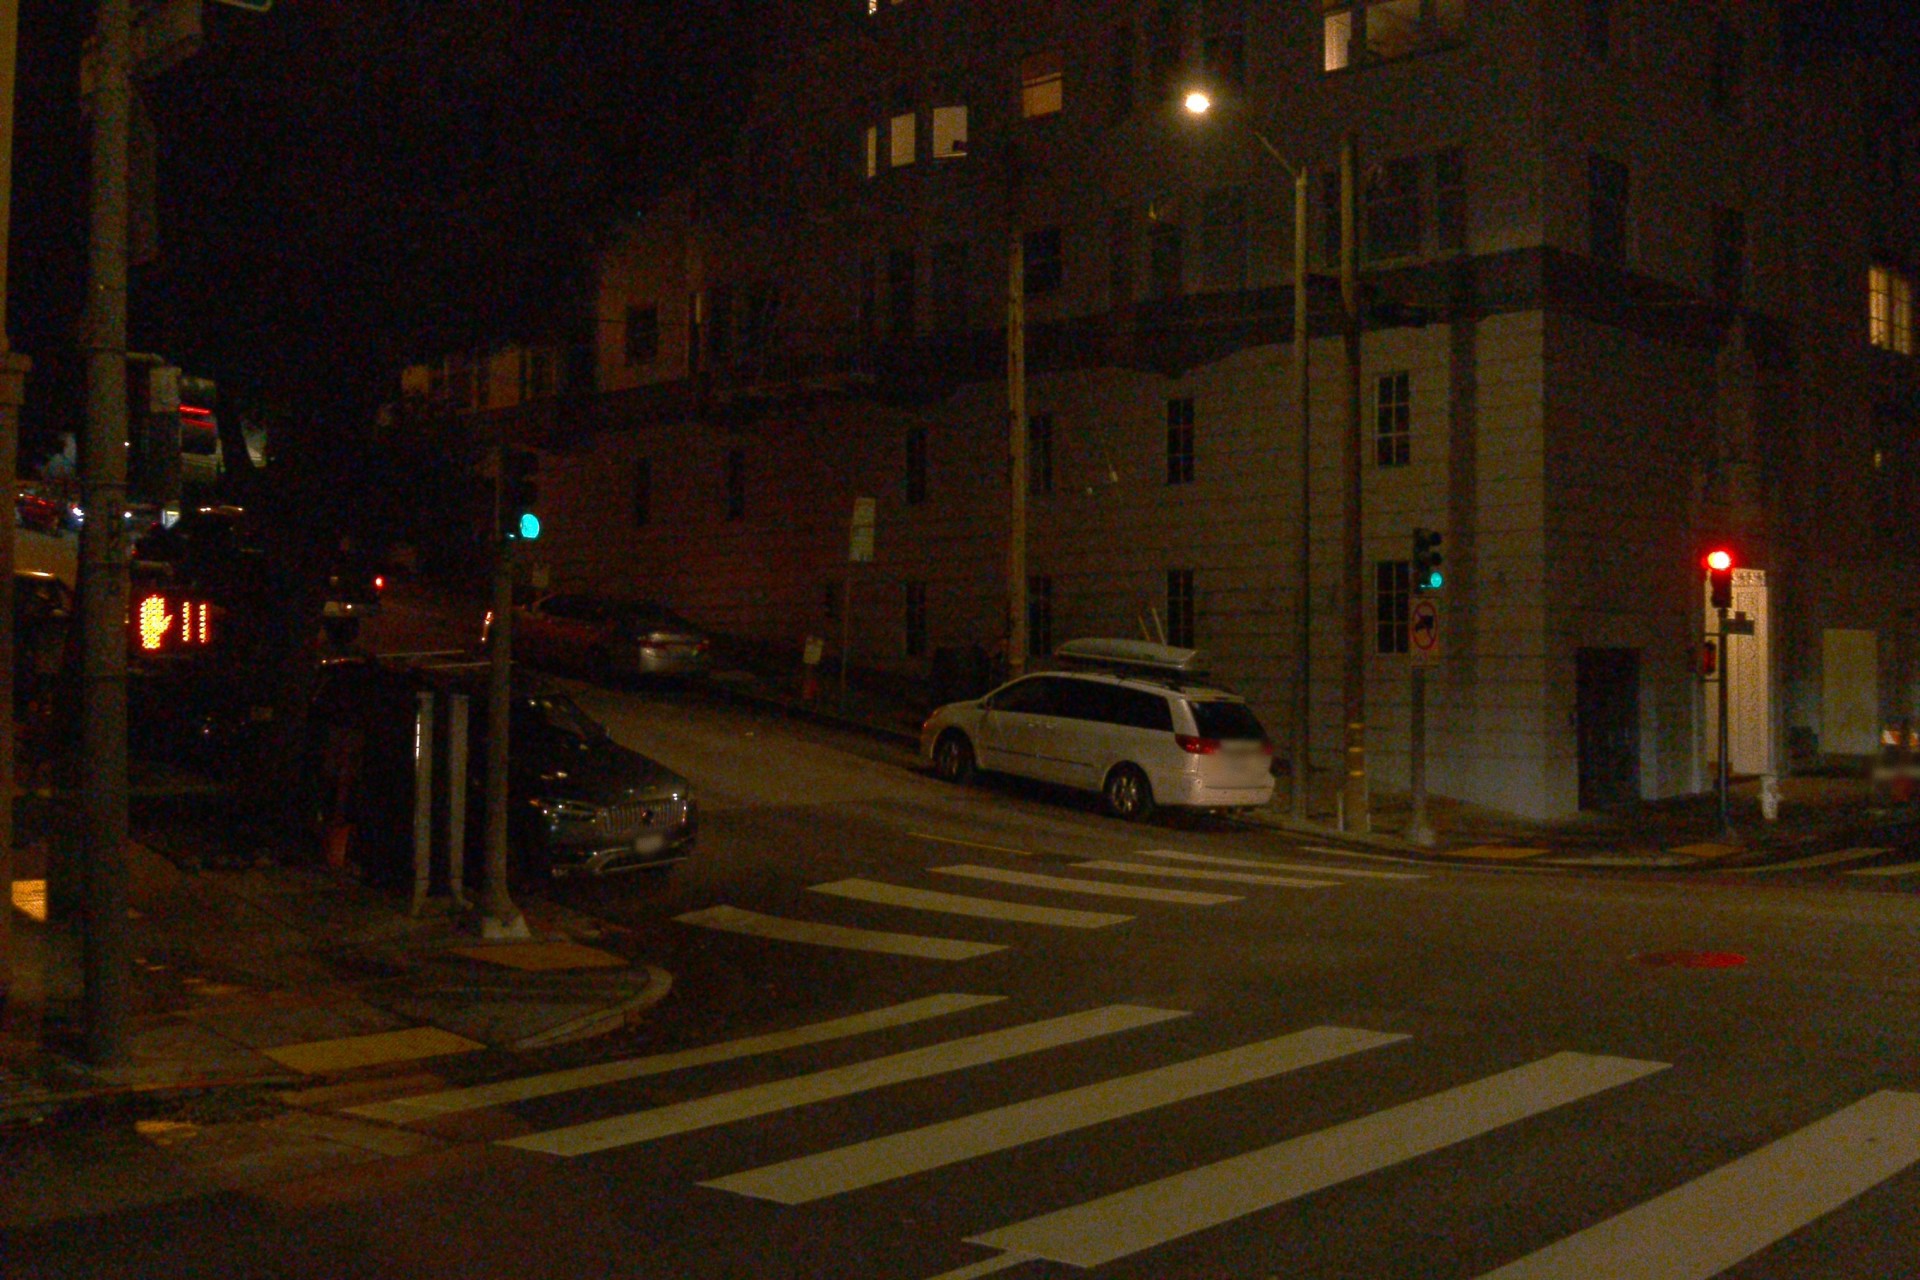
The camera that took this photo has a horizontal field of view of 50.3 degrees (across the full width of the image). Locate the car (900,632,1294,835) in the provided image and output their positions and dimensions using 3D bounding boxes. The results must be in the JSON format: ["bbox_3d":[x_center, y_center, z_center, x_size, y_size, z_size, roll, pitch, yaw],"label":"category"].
[{"bbox_3d":[1.729,1.121,27.136,4.904,2.388,2.213,1,1,44],"label":"car"}]

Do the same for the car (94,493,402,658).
[{"bbox_3d":[-12.350,-1.053,35.253,5.958,2.592,2.552,1,1,44],"label":"car"}]

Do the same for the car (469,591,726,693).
[{"bbox_3d":[-6.222,0.003,34.847,4.539,1.626,1.925,1,1,42],"label":"car"}]

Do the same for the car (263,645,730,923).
[{"bbox_3d":[-4.592,1.228,19.807,2.195,2.290,4.784,0,1,-44],"label":"car"}]
